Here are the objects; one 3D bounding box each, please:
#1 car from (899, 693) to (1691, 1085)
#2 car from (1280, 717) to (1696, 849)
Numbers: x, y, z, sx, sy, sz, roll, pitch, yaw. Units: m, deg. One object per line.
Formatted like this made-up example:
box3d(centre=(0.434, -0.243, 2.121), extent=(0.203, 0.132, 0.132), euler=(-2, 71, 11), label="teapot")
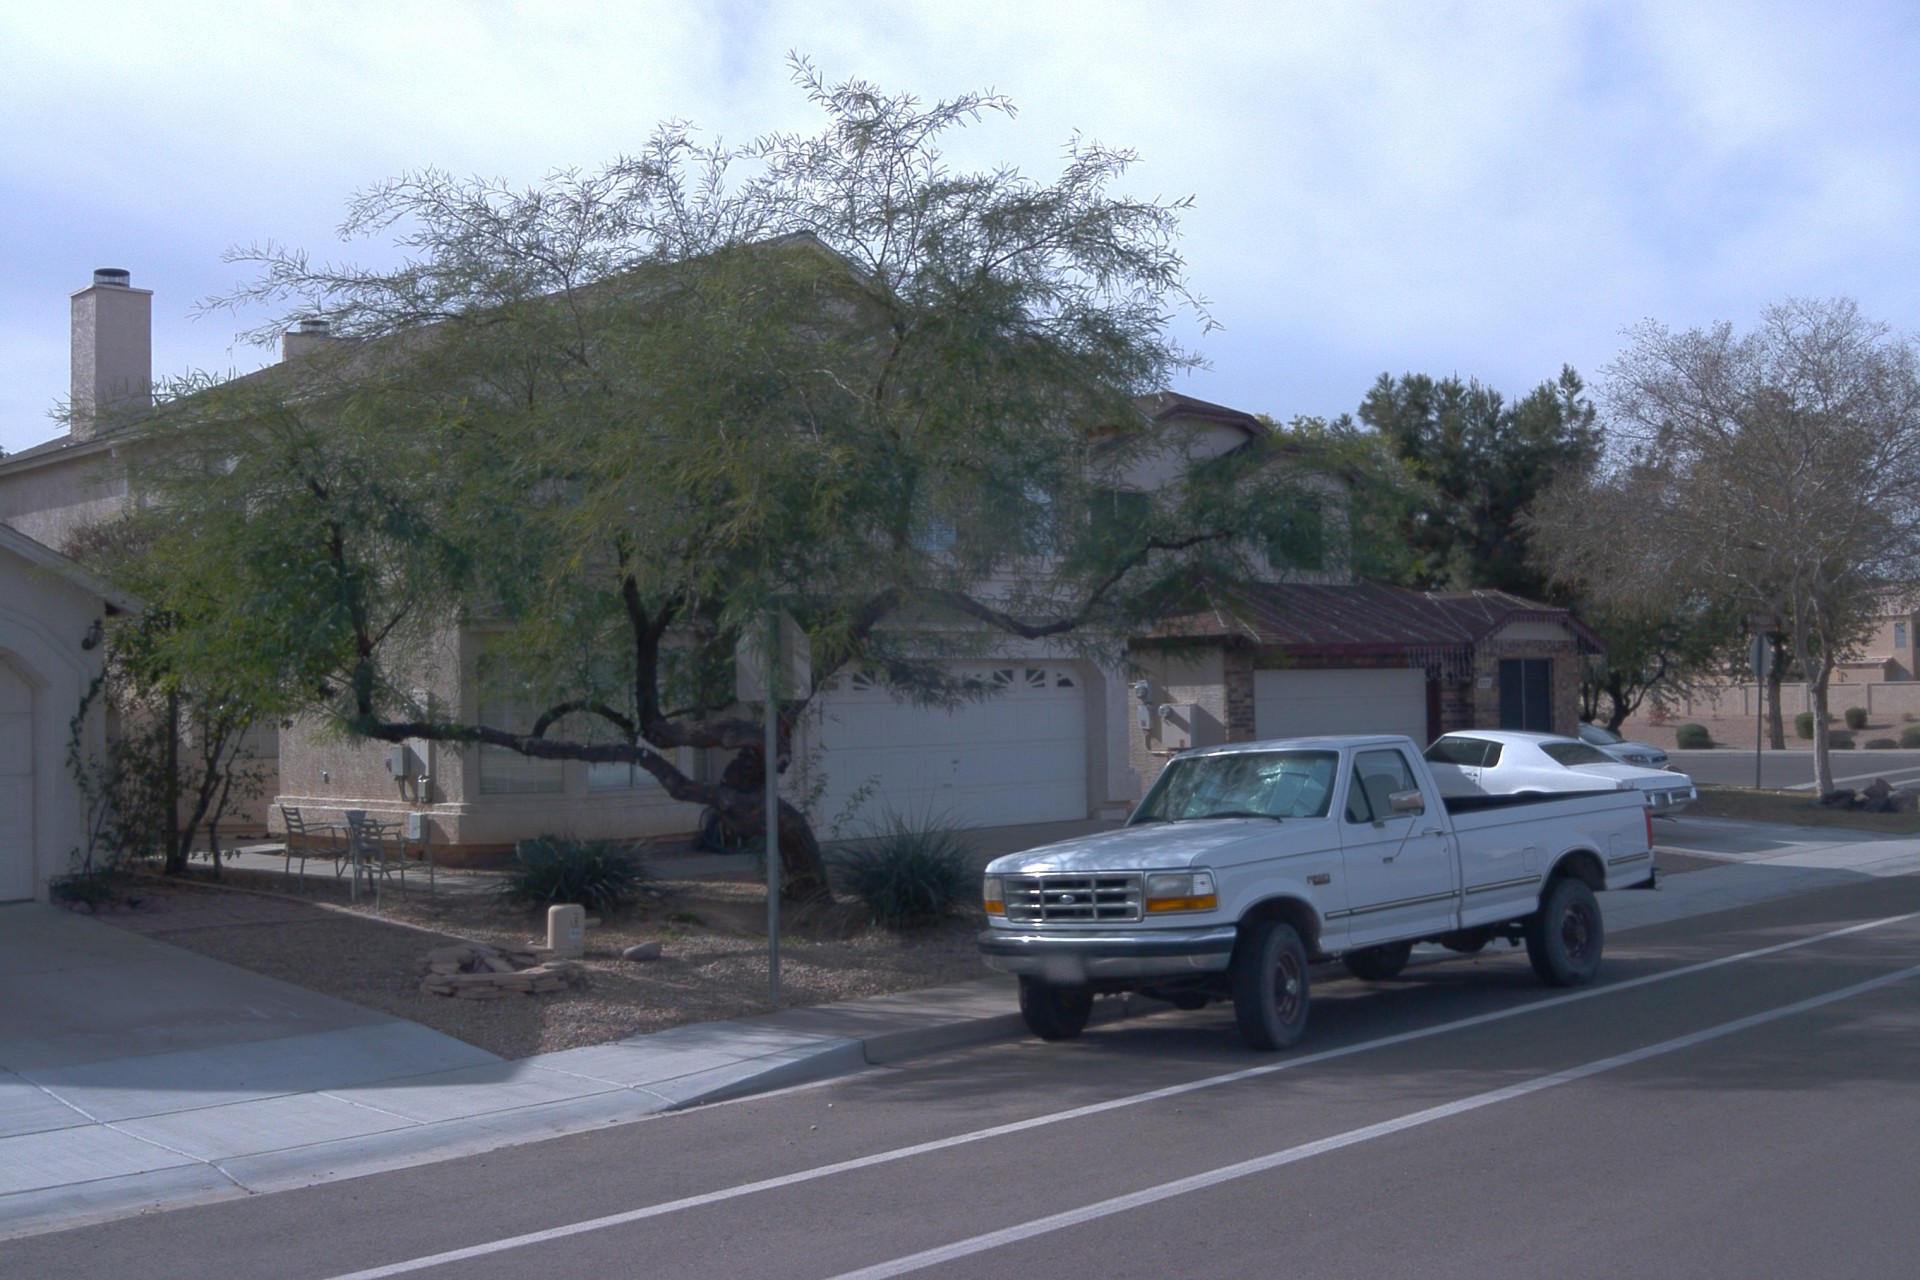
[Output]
box3d(centre=(2.582, 1.480, 14.719), extent=(5.870, 2.130, 2.464), euler=(1, -1, -44), label="car")
box3d(centre=(7.143, 1.884, 28.719), extent=(2.100, 1.500, 5.257), euler=(1, -1, -42), label="car")
